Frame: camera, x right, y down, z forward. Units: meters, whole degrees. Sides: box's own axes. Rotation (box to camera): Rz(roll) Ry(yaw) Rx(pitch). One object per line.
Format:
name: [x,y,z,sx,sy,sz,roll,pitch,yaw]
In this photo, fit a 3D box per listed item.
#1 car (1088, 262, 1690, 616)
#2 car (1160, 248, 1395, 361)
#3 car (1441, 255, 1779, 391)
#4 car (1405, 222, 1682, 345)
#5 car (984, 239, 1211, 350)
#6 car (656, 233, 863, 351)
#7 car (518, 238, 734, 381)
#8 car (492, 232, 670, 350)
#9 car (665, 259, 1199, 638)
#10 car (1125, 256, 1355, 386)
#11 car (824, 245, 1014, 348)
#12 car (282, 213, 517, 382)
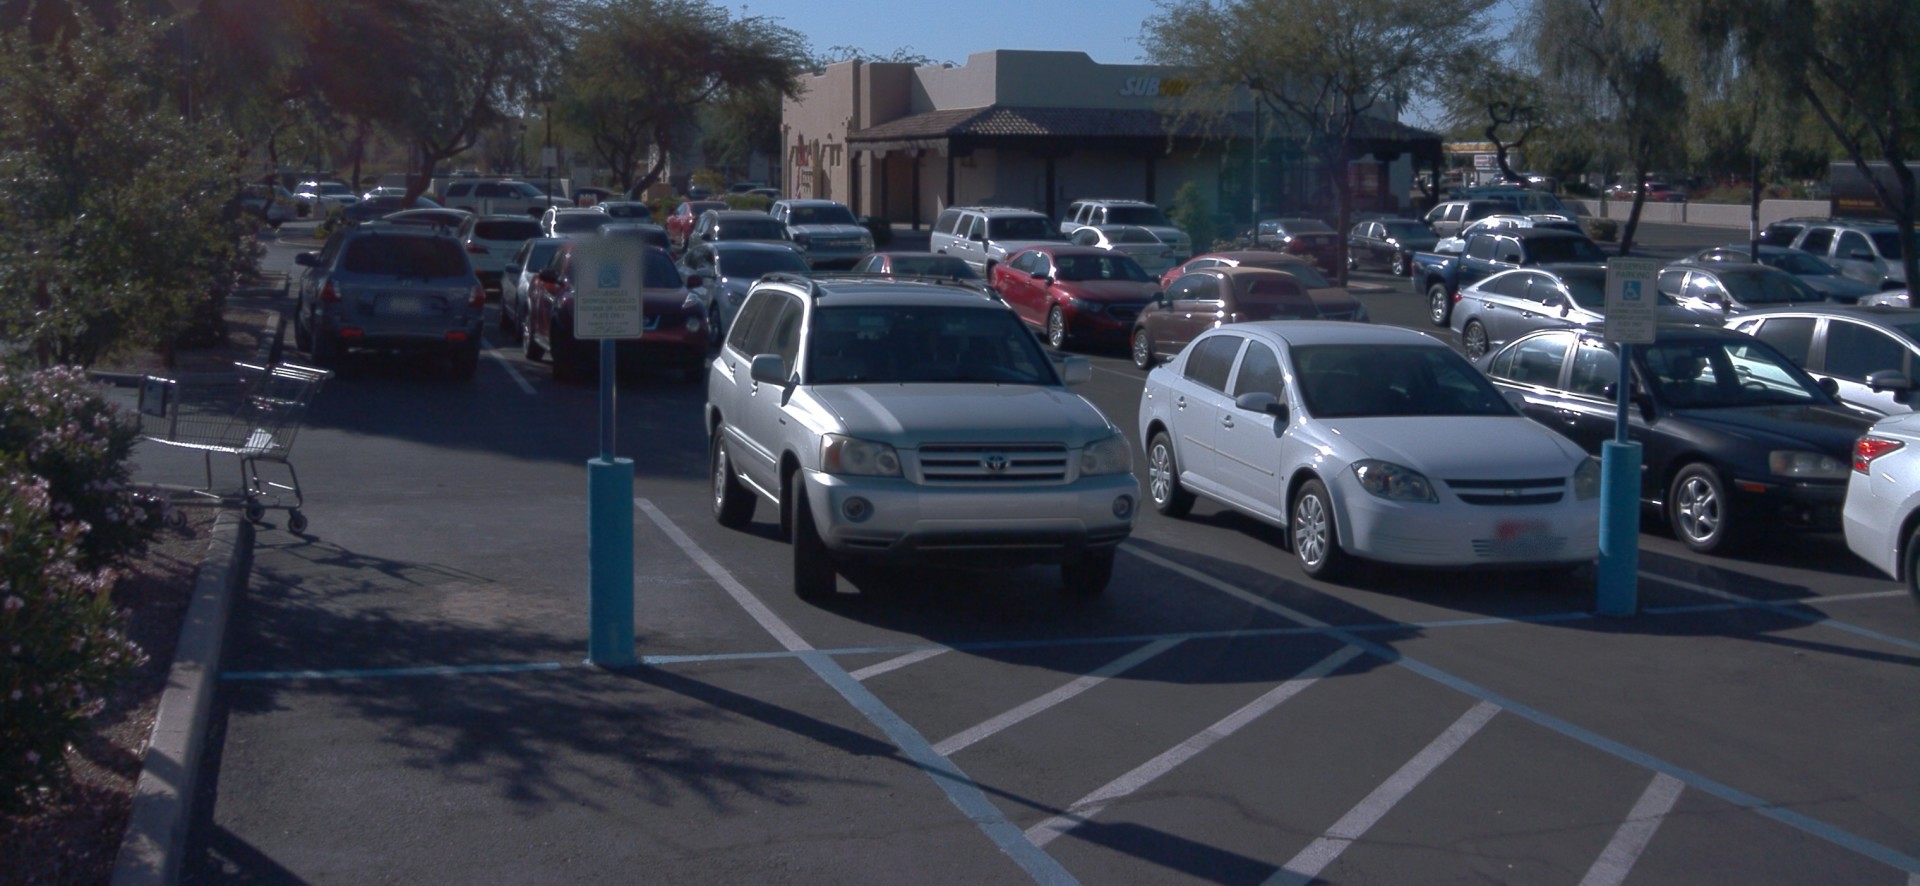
car: [2.540,-0.230,13.632,2.000,1.802,4.571,0,5,-16]
car: [4.905,-2.248,32.766,2.018,1.593,4.457,-1,6,-16]
car: [8.812,-1.737,28.662,2.188,1.603,4.831,-1,6,-15]
car: [9.778,-2.791,35.285,2.094,1.901,5.321,0,6,-15]
car: [2.080,-2.421,33.022,2.094,1.563,4.894,-1,6,-16]
car: [-3.100,-2.334,31.223,2.020,1.583,4.452,-1,6,-20]
car: [-4.136,-1.687,25.163,1.987,1.523,4.050,-1,6,-18]
car: [-5.645,-2.293,30.436,2.125,1.543,4.590,-1,6,-16]
car: [-0.424,-0.193,12.825,2.175,1.782,4.697,-1,6,-16]
car: [3.667,-1.695,27.862,1.736,1.533,3.830,0,5,-15]
car: [-0.724,-2.343,32.376,1.913,1.433,4.245,-1,6,-17]
car: [-6.674,-1.797,24.354,2.109,1.773,4.412,-1,6,-23]
